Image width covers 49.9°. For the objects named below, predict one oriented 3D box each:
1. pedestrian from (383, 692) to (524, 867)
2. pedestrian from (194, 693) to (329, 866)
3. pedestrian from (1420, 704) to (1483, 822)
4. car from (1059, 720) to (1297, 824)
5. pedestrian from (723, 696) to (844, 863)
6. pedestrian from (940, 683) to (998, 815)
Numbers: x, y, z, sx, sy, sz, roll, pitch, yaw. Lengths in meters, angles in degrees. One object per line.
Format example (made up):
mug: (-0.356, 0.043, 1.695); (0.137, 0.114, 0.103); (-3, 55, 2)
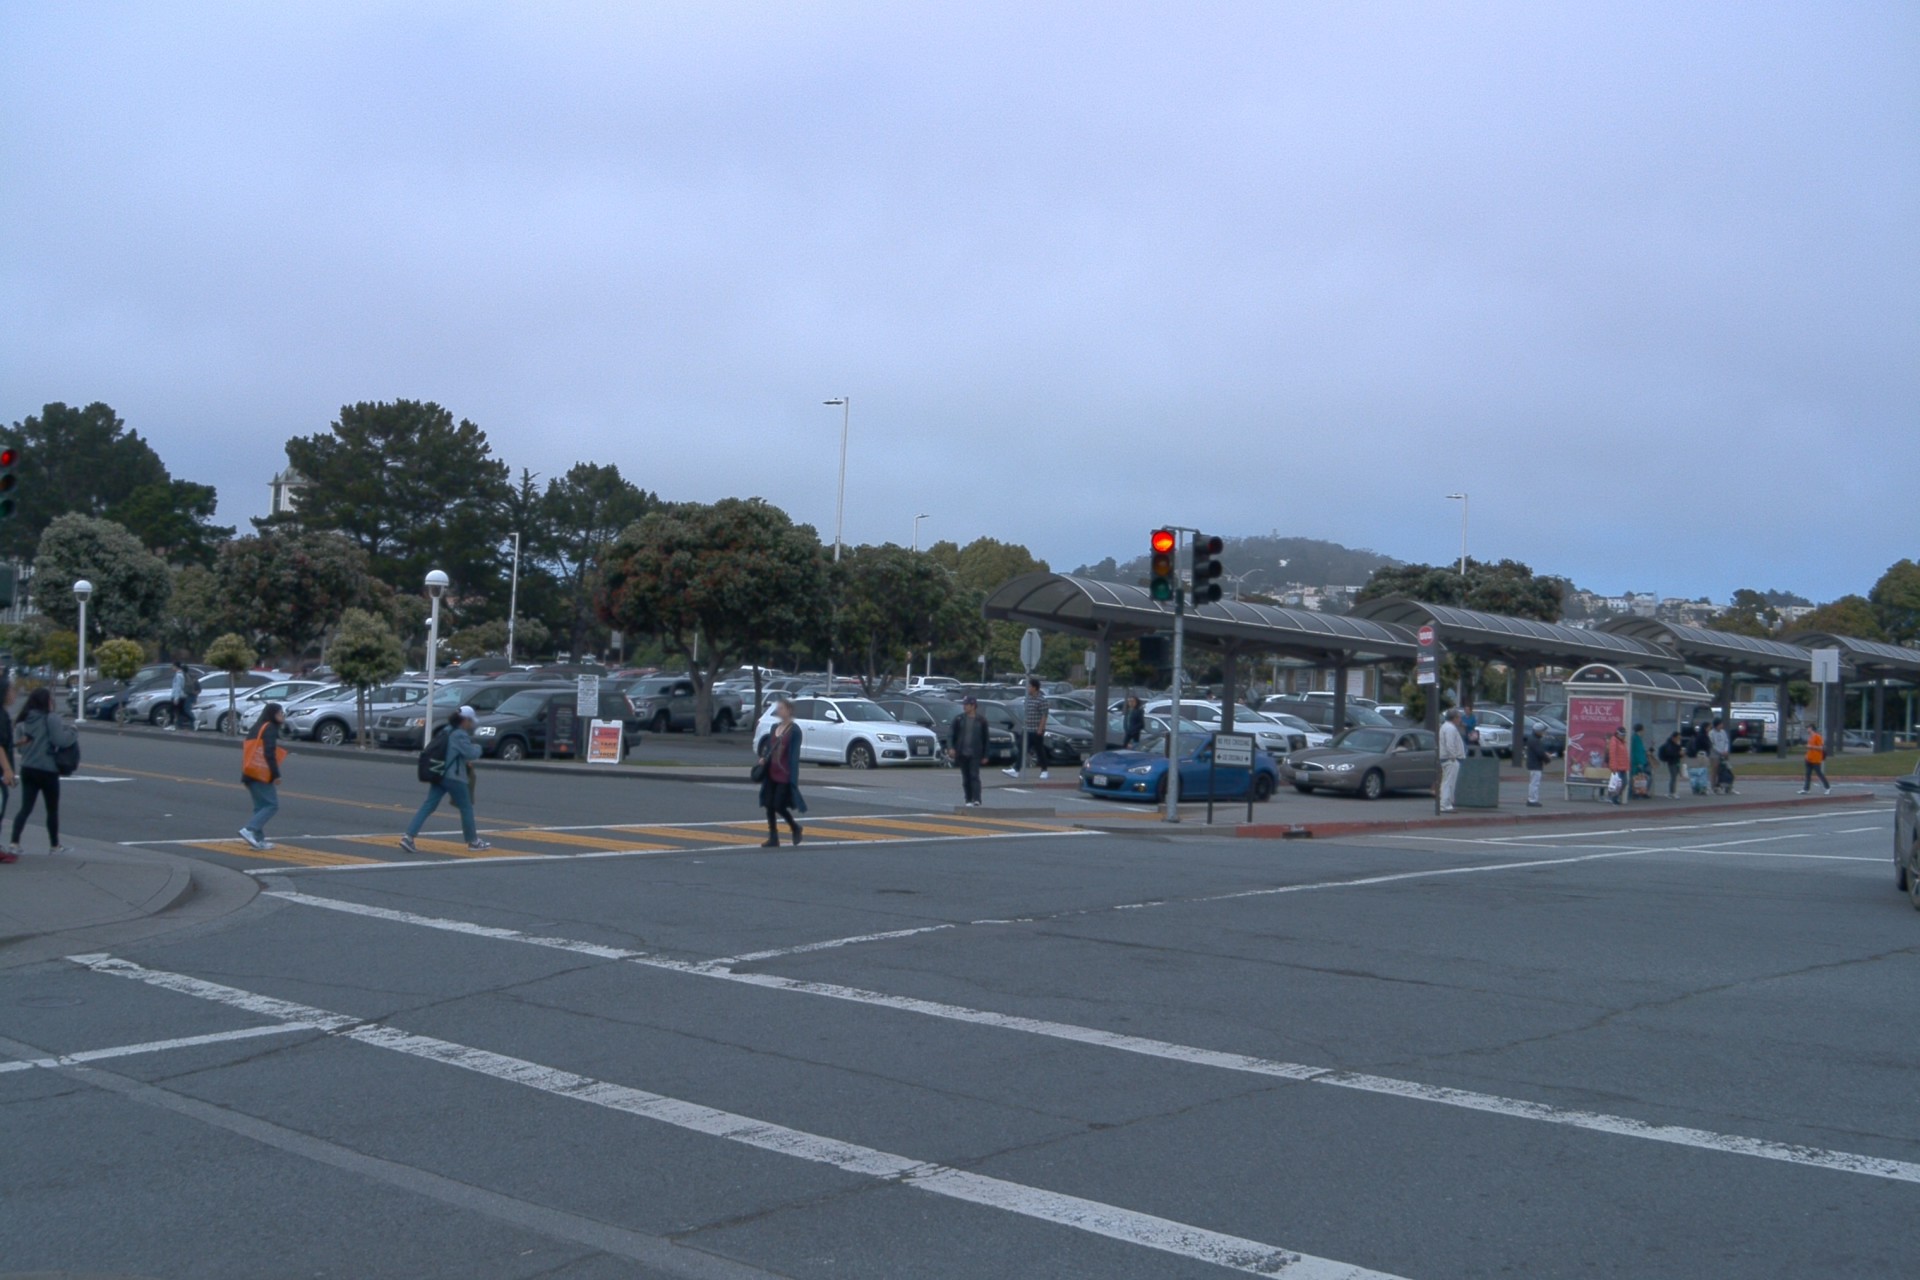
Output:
pedestrian: (-5.311, 1.431, 21.652); (1.113, 1.720, 0.928); (-1, 1, -44)
pedestrian: (-7.254, 1.424, 21.433); (1.112, 1.690, 0.745); (-1, 1, -42)
pedestrian: (8.397, 2.082, 35.267); (0.848, 1.930, 0.853); (0, 1, 28)
car: (3.970, 2.326, 37.224); (4.281, 1.520, 1.972); (-1, 1, -44)
pedestrian: (-1.995, 1.559, 23.473); (0.830, 1.790, 1.157); (0, 1, 33)
pedestrian: (0.149, 1.673, 31.951); (0.867, 1.960, 1.133); (0, 1, 2)
